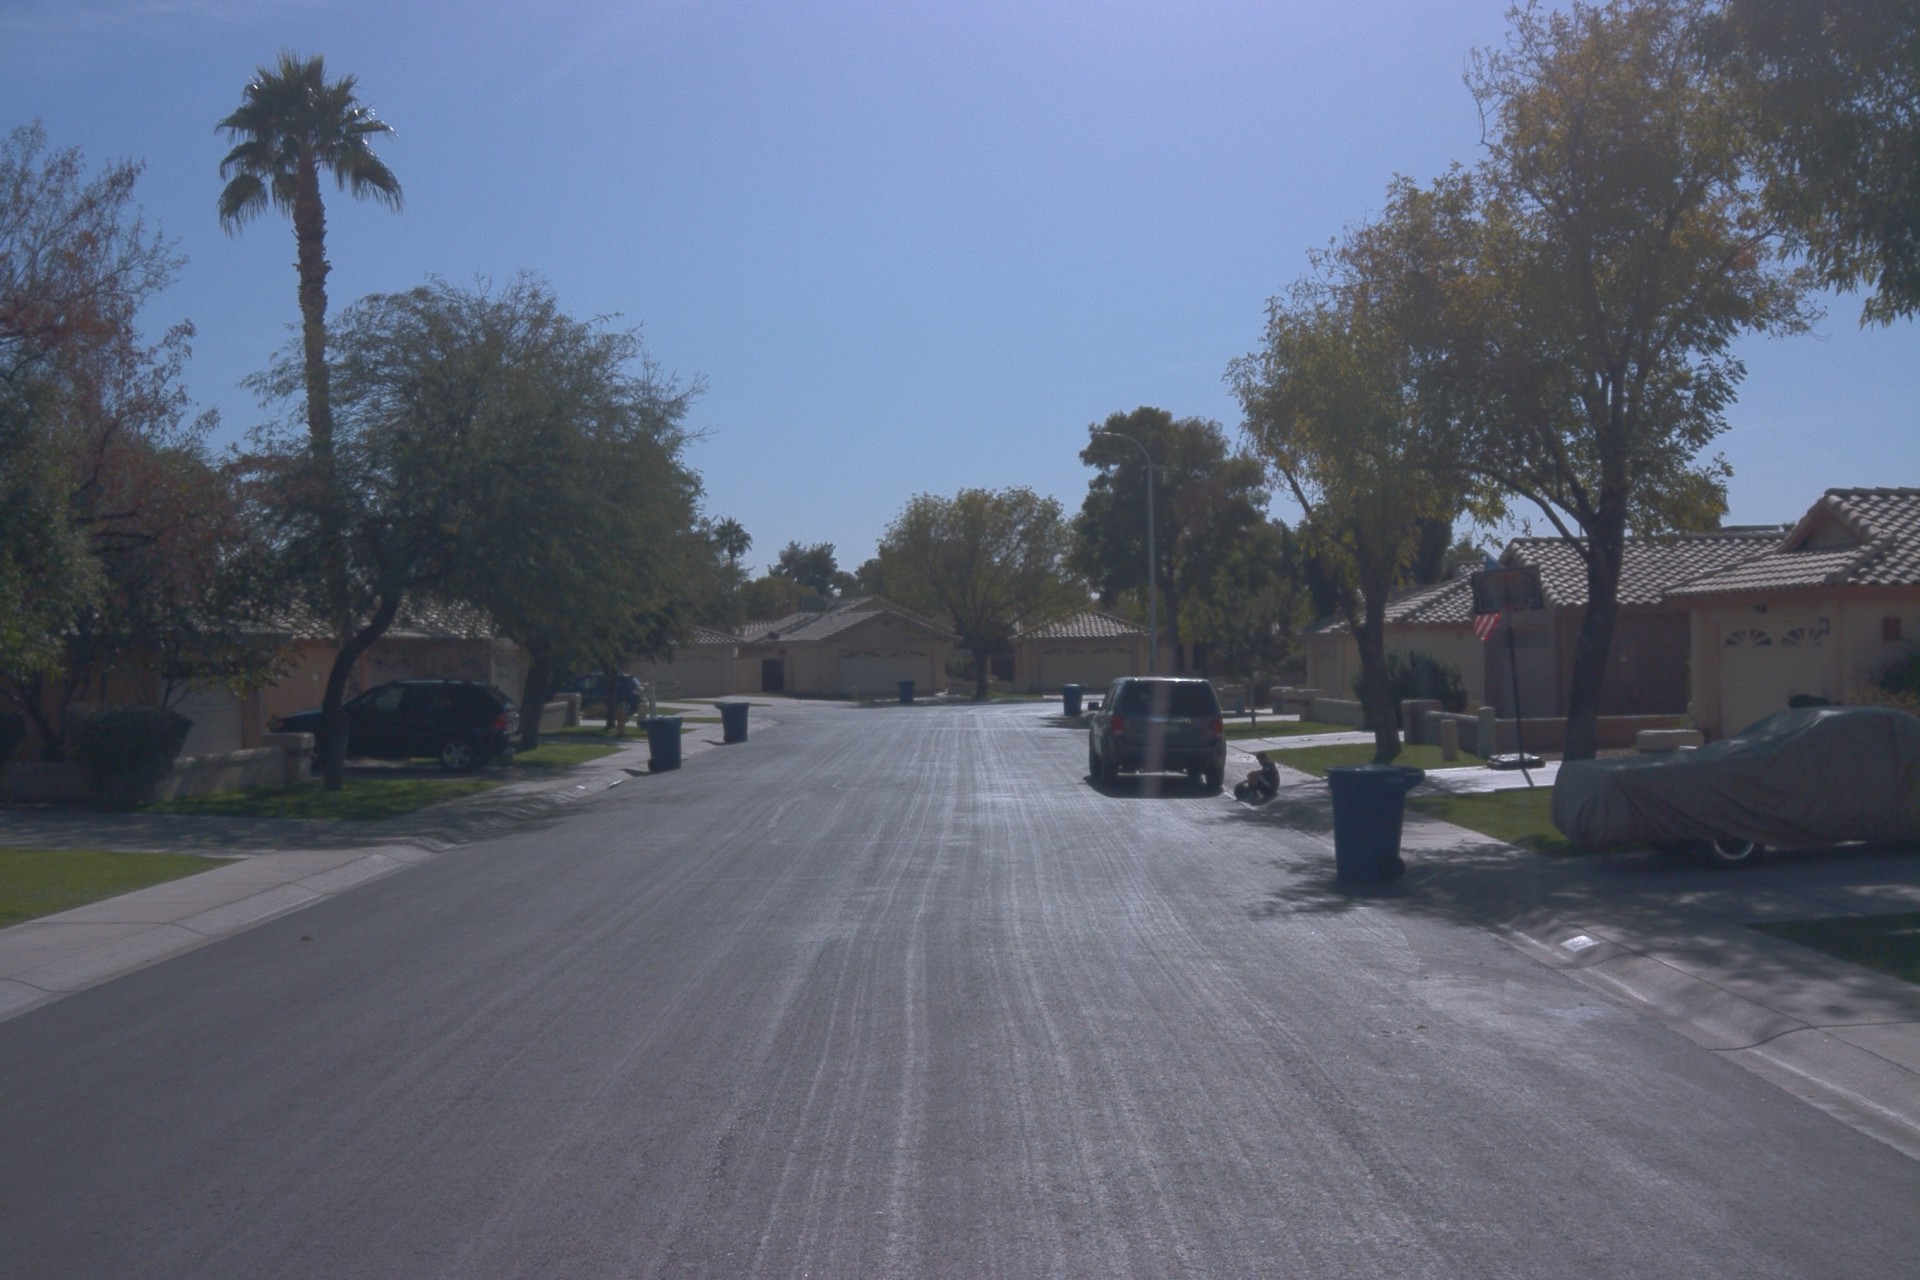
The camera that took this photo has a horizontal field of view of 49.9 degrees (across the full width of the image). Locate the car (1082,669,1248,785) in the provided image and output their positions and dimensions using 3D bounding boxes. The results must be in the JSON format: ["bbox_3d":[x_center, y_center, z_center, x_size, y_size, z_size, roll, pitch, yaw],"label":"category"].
[{"bbox_3d":[3.373,1.409,34.892,2.268,1.780,4.879,0,0,-1],"label":"car"}]

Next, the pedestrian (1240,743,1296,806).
[{"bbox_3d":[4.529,1.971,30.321,0.705,0.880,0.828,0,0,0],"label":"pedestrian"}]
